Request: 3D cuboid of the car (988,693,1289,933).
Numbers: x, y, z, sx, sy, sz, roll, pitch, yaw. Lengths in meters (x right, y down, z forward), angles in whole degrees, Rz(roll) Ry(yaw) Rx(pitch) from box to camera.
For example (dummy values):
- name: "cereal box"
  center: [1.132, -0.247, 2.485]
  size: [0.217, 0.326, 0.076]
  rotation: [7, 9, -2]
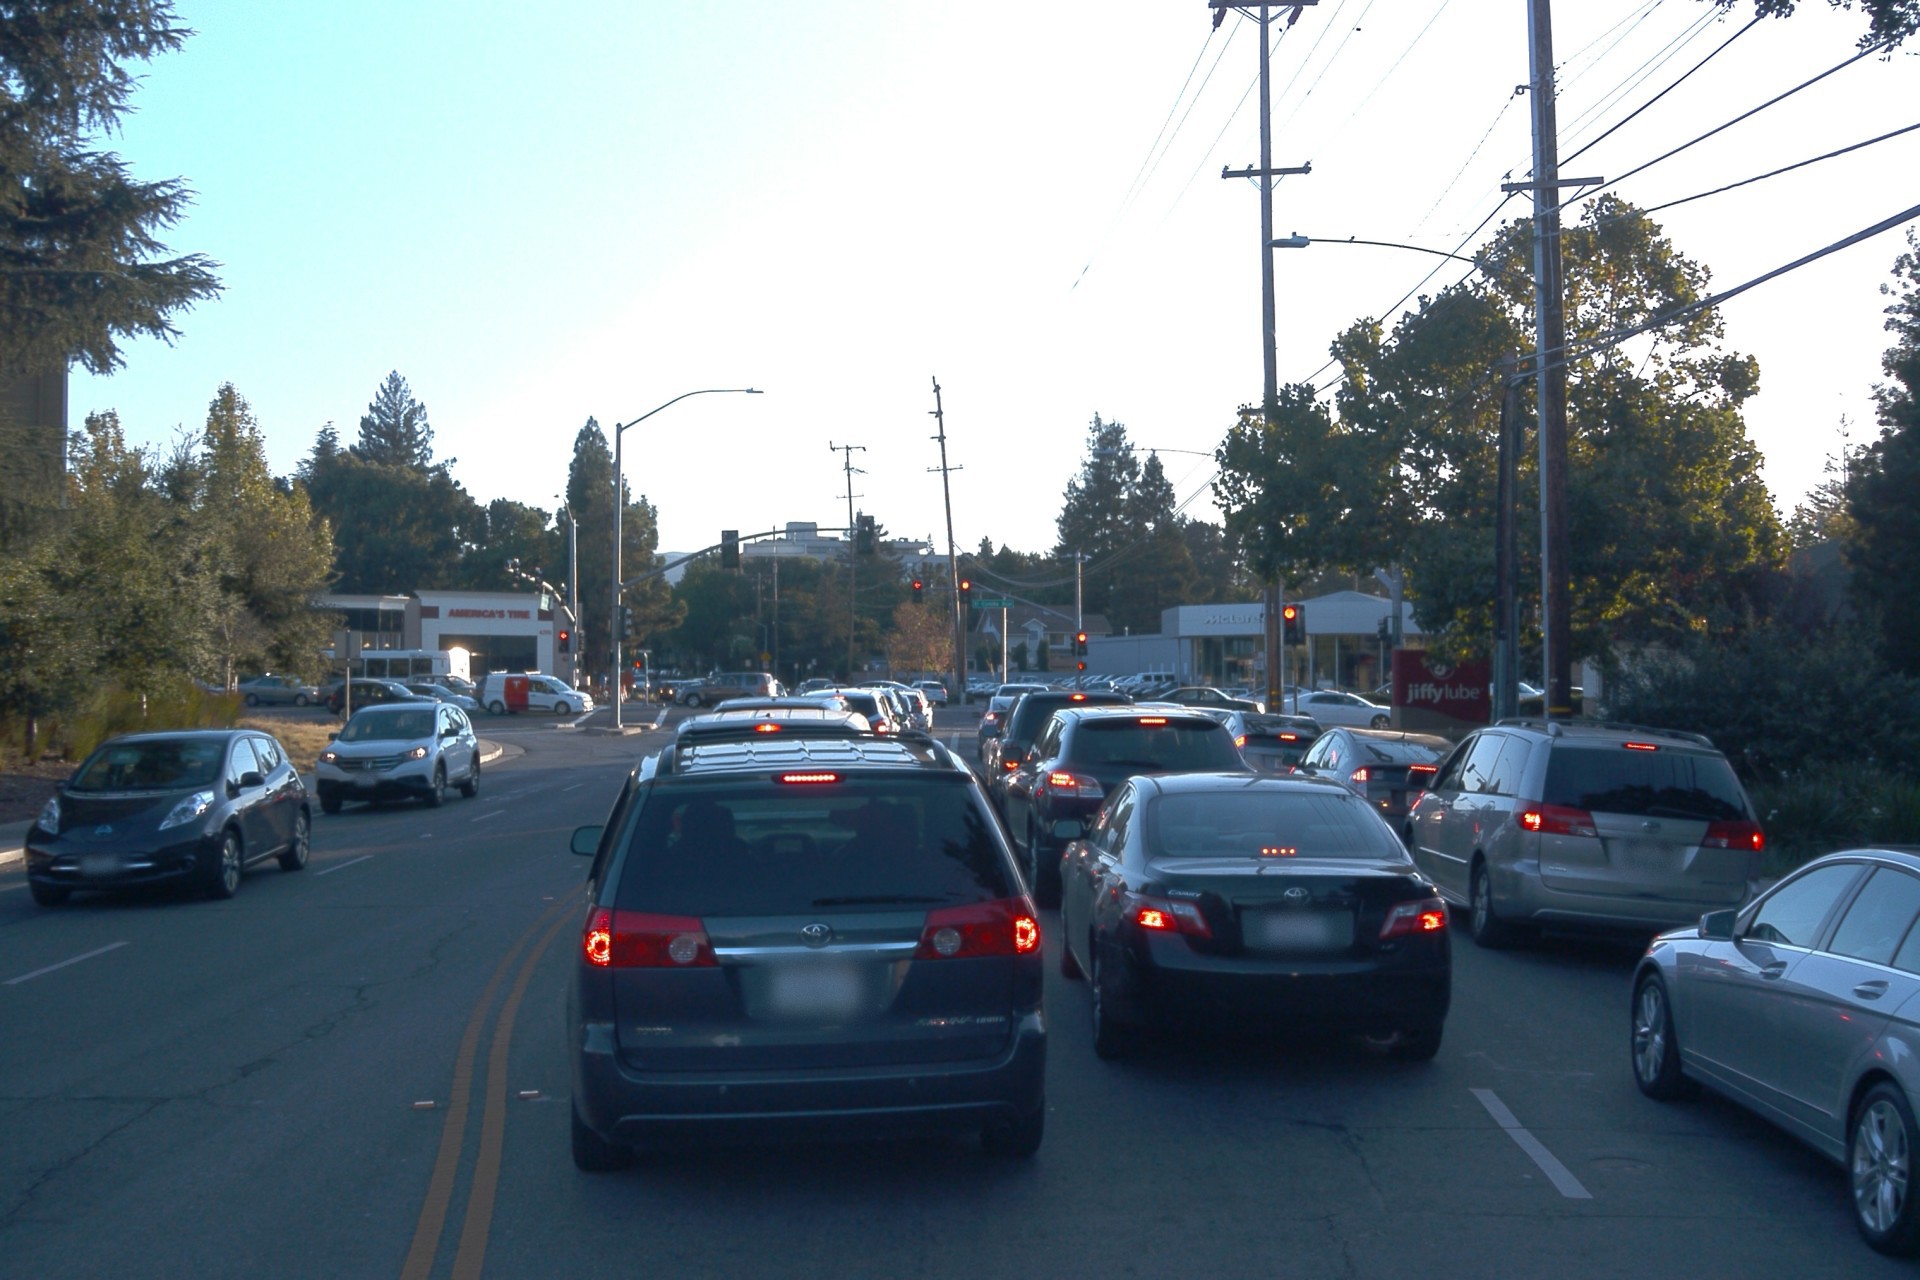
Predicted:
- name: "car"
  center: [1.458, 1.433, 18.806]
  size: [1.992, 1.810, 4.553]
  rotation: [0, 0, -5]

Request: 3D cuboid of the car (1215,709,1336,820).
- name: "car"
  center: [4.670, 1.816, 30.934]
  size: [1.418, 1.490, 3.138]
  rotation: [0, 0, 2]

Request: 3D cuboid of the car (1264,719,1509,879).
- name: "car"
  center: [4.676, 1.705, 23.273]
  size: [1.785, 1.510, 4.026]
  rotation: [0, 0, -2]

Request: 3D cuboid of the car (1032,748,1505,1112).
- name: "car"
  center: [1.529, 1.476, 11.982]
  size: [1.915, 1.490, 4.528]
  rotation: [0, 0, -2]

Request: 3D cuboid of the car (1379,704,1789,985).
- name: "car"
  center: [4.903, 1.520, 17.100]
  size: [2.061, 1.850, 4.903]
  rotation: [0, 0, 2]

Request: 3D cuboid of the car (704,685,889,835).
- name: "car"
  center: [-1.862, 1.359, 24.682]
  size: [1.760, 1.570, 3.956]
  rotation: [0, 0, 2]

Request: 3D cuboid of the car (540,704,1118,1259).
- name: "car"
  center: [-0.873, 1.302, 10.220]
  size: [2.102, 1.830, 5.461]
  rotation: [0, 0, -9]

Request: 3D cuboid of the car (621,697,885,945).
- name: "car"
  center: [-1.497, 1.300, 16.291]
  size: [1.812, 1.620, 4.042]
  rotation: [0, 0, -2]

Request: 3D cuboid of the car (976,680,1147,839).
- name: "car"
  center: [1.186, 1.412, 25.823]
  size: [1.759, 1.770, 3.957]
  rotation: [0, 0, -3]

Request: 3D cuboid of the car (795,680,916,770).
- name: "car"
  center: [-1.660, 1.356, 33.817]
  size: [1.709, 1.350, 3.337]
  rotation: [0, 0, 2]

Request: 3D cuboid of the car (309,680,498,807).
- name: "car"
  center: [-8.918, 1.611, 33.589]
  size: [1.935, 1.850, 4.622]
  rotation: [0, 0, -1]
